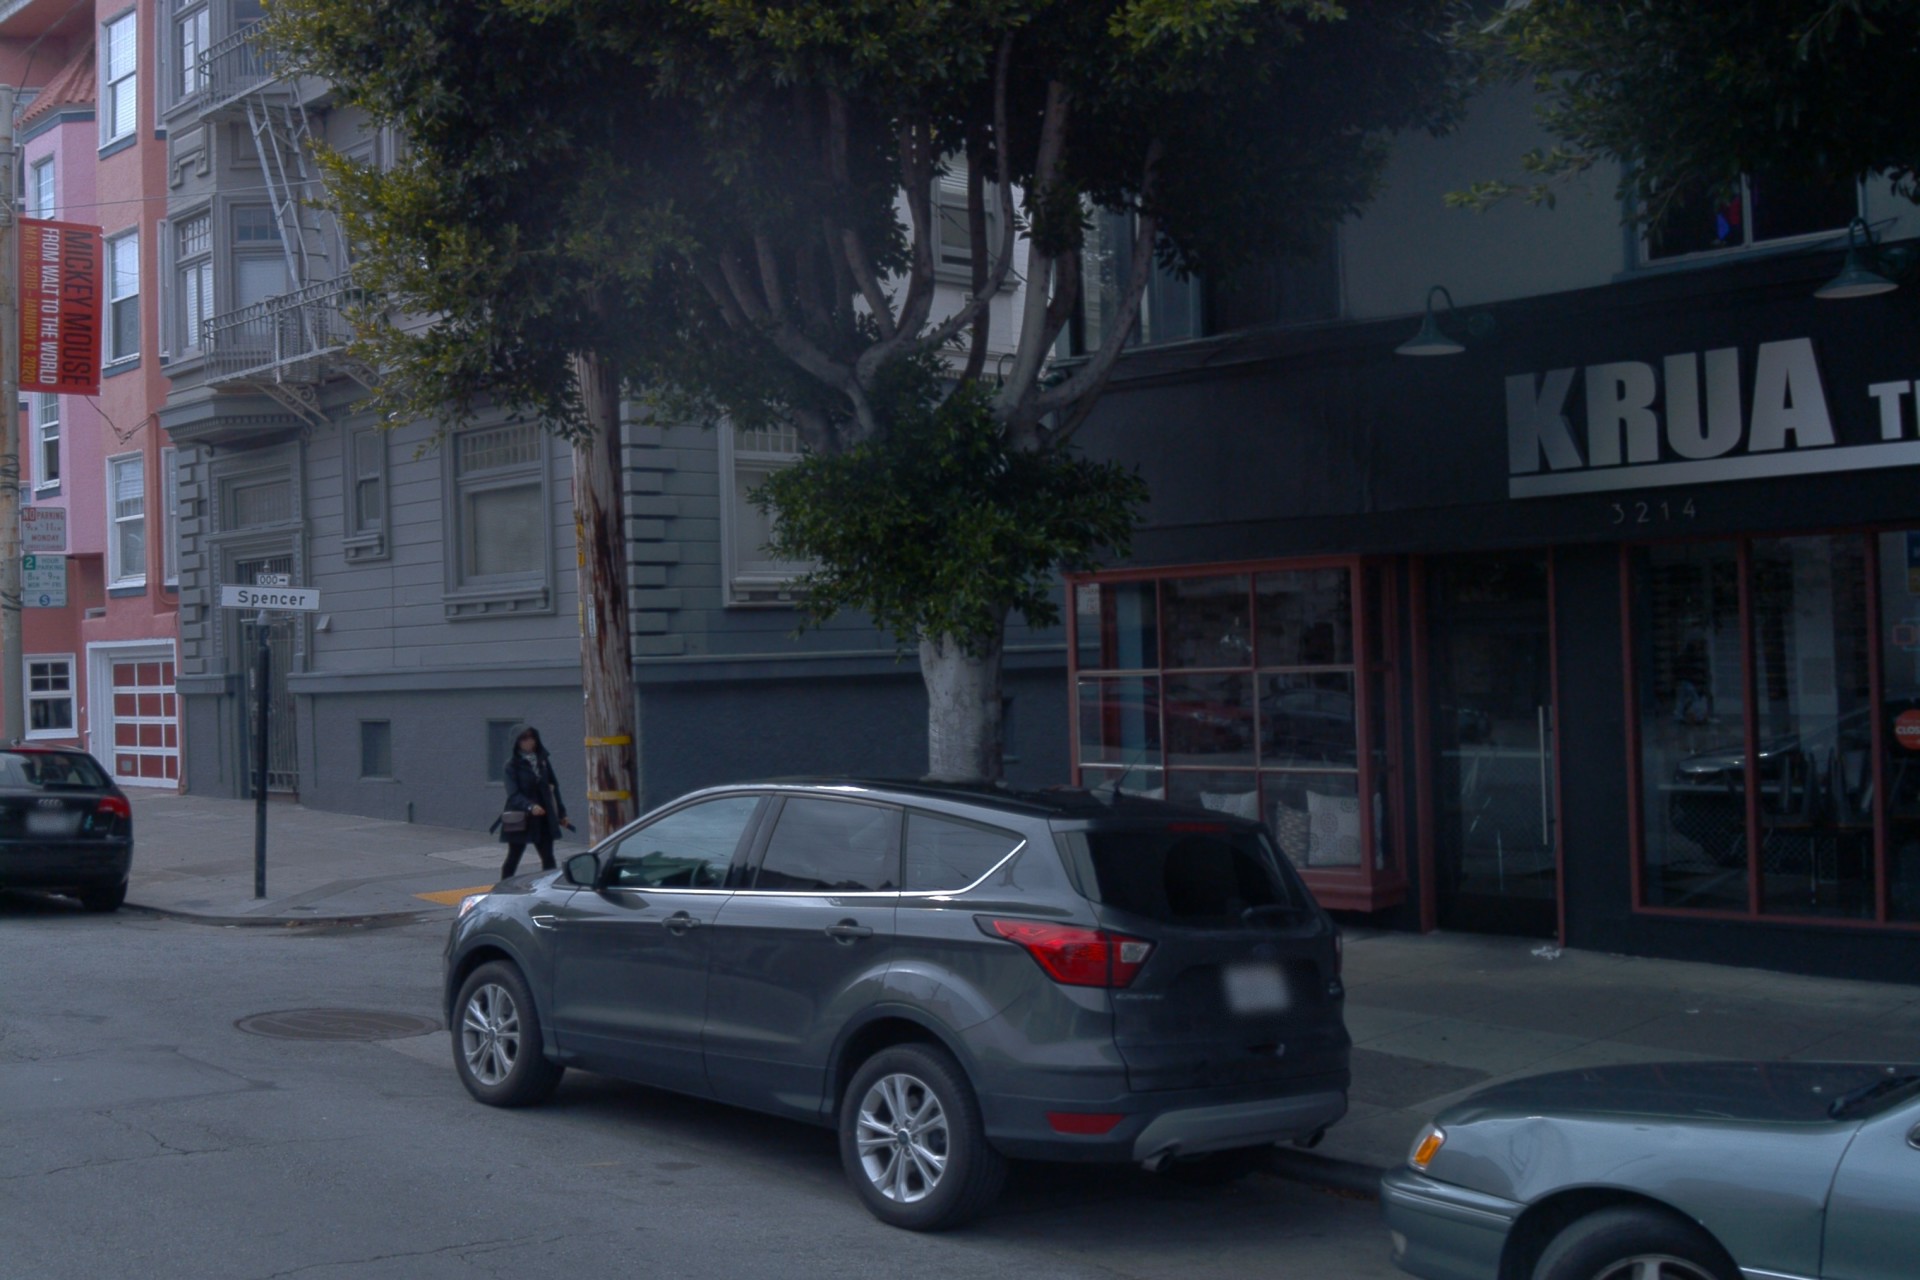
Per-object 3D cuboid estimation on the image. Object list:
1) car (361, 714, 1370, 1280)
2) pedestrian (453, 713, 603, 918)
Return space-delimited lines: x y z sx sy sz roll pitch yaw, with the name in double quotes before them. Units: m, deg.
"car" -0.648 1.366 9.353 2.028 1.850 4.560 -1 1 -45
"pedestrian" -3.605 1.431 17.228 0.844 1.595 0.988 -1 1 -41
